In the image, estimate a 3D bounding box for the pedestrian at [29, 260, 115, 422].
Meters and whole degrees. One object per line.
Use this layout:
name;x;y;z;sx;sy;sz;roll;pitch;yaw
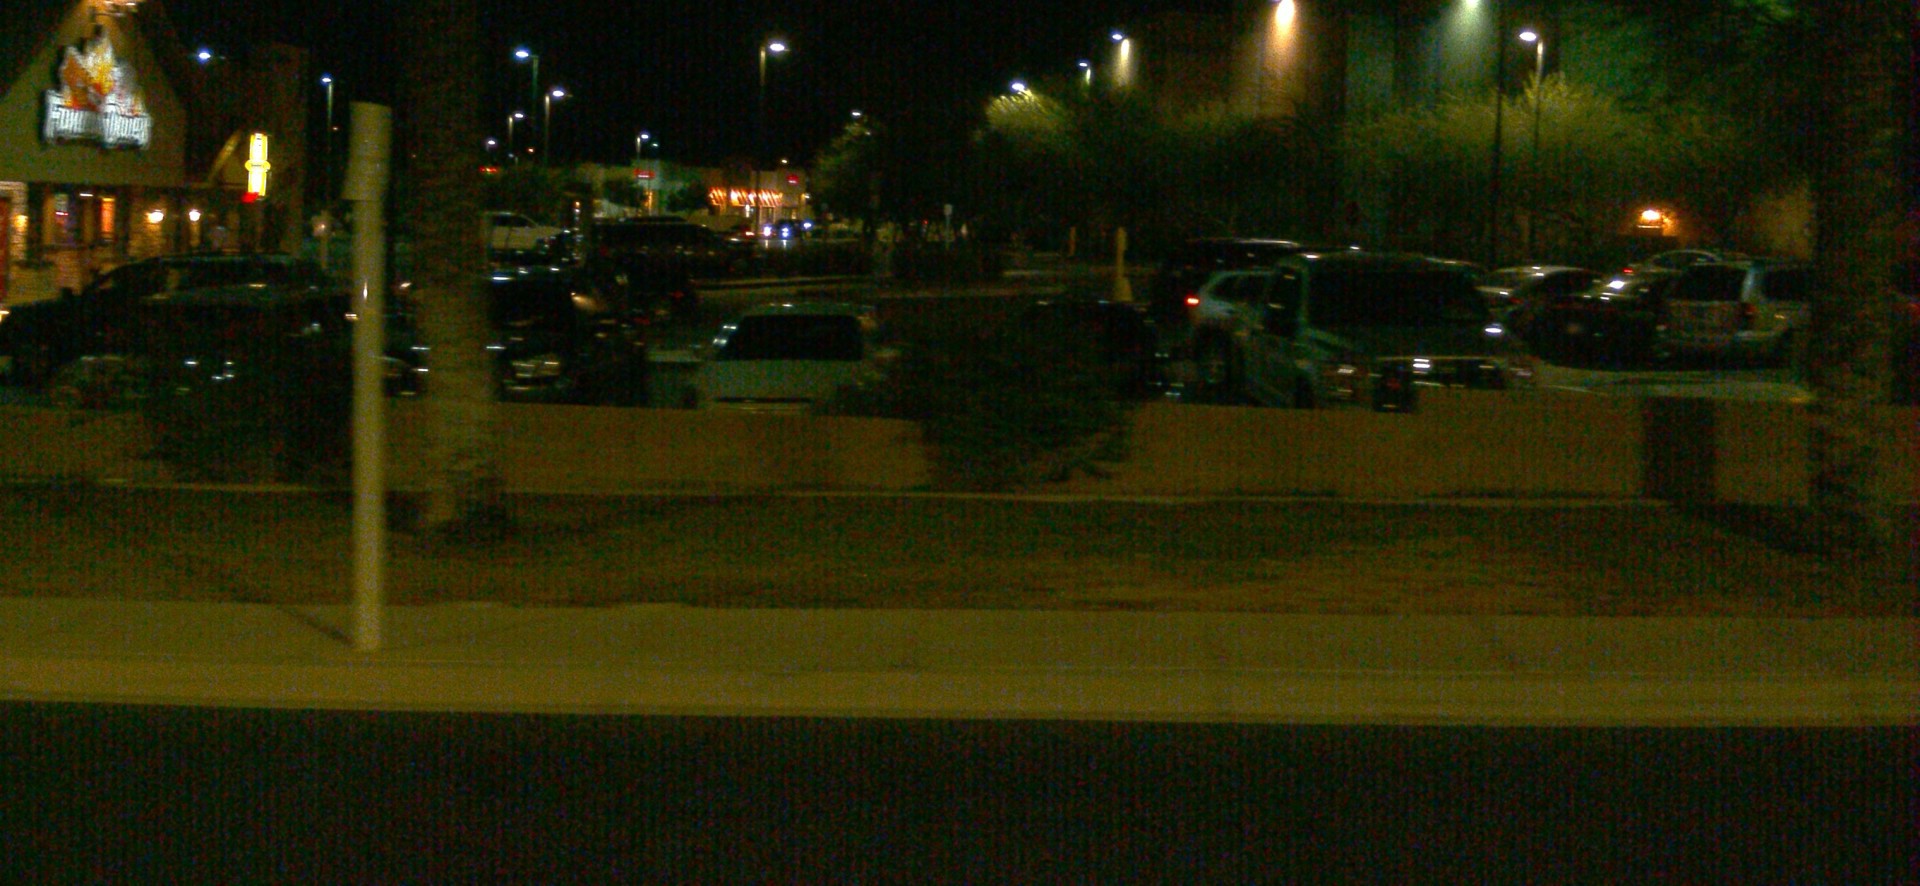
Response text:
pedestrian;-9.853;-1.148;23.115;0.594;1.749;0.655;0;1;16

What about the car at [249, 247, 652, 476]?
car;-4.647;-0.925;20.003;2.428;1.873;5.226;0;5;2

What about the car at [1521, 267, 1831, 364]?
car;12.101;-2.201;35.112;5.123;1.466;2.092;-3;5;-30

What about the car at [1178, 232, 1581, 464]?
car;3.684;-1.064;19.725;2.505;1.852;6.096;0;5;-1

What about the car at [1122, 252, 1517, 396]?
car;4.514;-1.640;26.993;2.450;1.634;4.938;-2;6;-30

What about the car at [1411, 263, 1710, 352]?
car;10.832;-2.480;37.490;5.261;1.446;2.122;-3;5;-30

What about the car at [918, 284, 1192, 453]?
car;0.910;-0.814;19.926;2.291;1.284;5.060;0;5;3

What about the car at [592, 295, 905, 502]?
car;-1.852;-0.542;19.915;2.207;1.594;4.673;0;5;4
